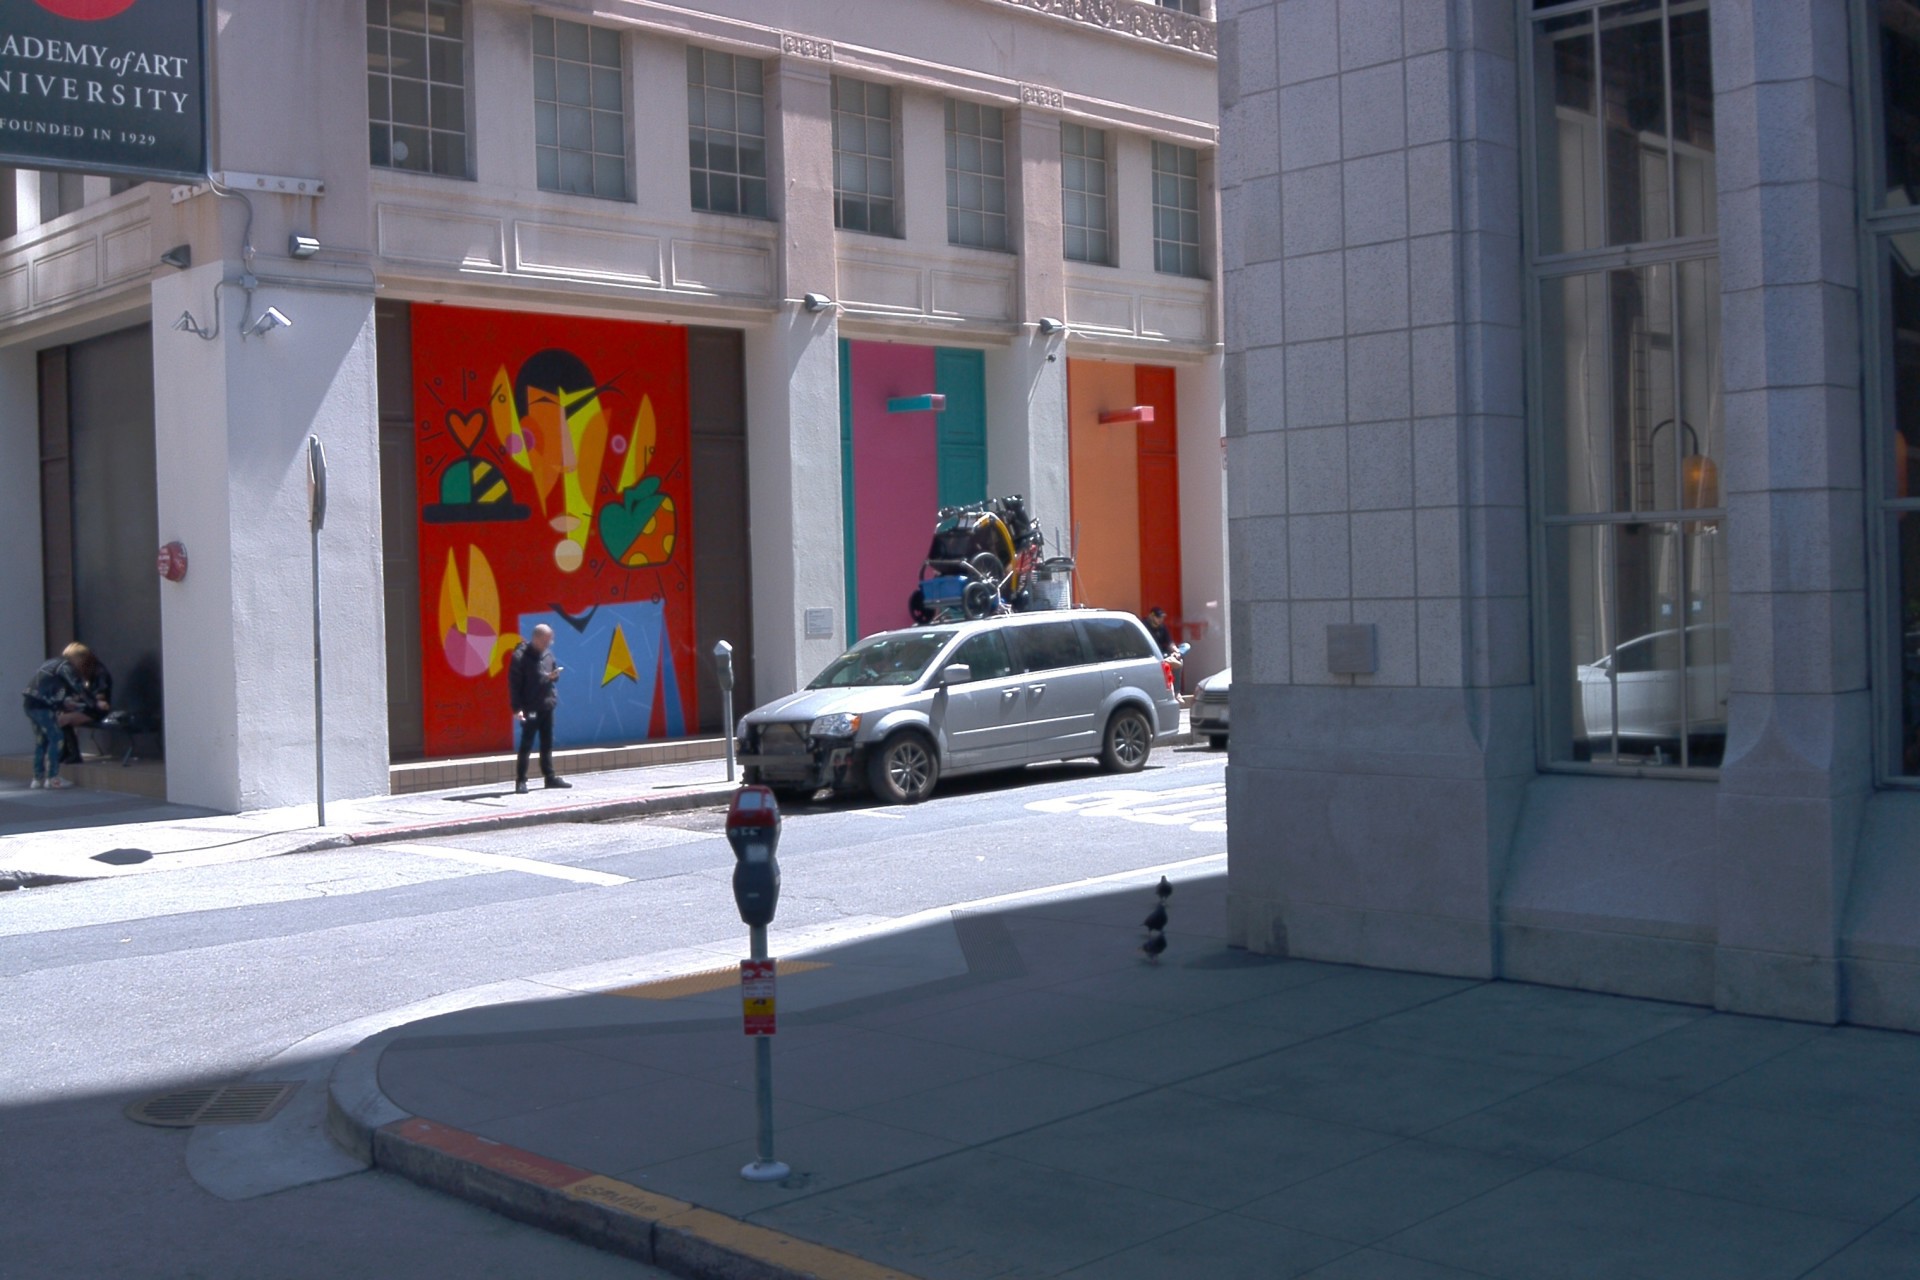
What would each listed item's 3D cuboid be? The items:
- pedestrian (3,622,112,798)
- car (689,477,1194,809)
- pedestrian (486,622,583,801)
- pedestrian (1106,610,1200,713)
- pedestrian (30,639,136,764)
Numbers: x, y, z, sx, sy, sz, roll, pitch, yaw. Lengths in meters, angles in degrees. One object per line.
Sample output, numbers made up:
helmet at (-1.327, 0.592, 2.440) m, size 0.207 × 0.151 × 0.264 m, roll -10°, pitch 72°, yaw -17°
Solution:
pedestrian at (-9.681, 0.725, 22.063) m, size 0.674 × 1.838 × 0.853 m, roll 0°, pitch 0°, yaw 41°
car at (-0.068, -0.004, 21.054) m, size 2.318 × 2.980 × 4.990 m, roll 0°, pitch 1°, yaw 44°
pedestrian at (-4.254, 0.696, 20.574) m, size 0.751 × 1.740 × 0.573 m, roll 0°, pitch 0°, yaw -44°
pedestrian at (2.701, 0.288, 28.813) m, size 1.058 × 1.413 × 0.768 m, roll 0°, pitch 0°, yaw 43°
pedestrian at (-9.582, 0.656, 22.474) m, size 0.747 × 1.328 × 0.832 m, roll 0°, pitch 0°, yaw 44°
